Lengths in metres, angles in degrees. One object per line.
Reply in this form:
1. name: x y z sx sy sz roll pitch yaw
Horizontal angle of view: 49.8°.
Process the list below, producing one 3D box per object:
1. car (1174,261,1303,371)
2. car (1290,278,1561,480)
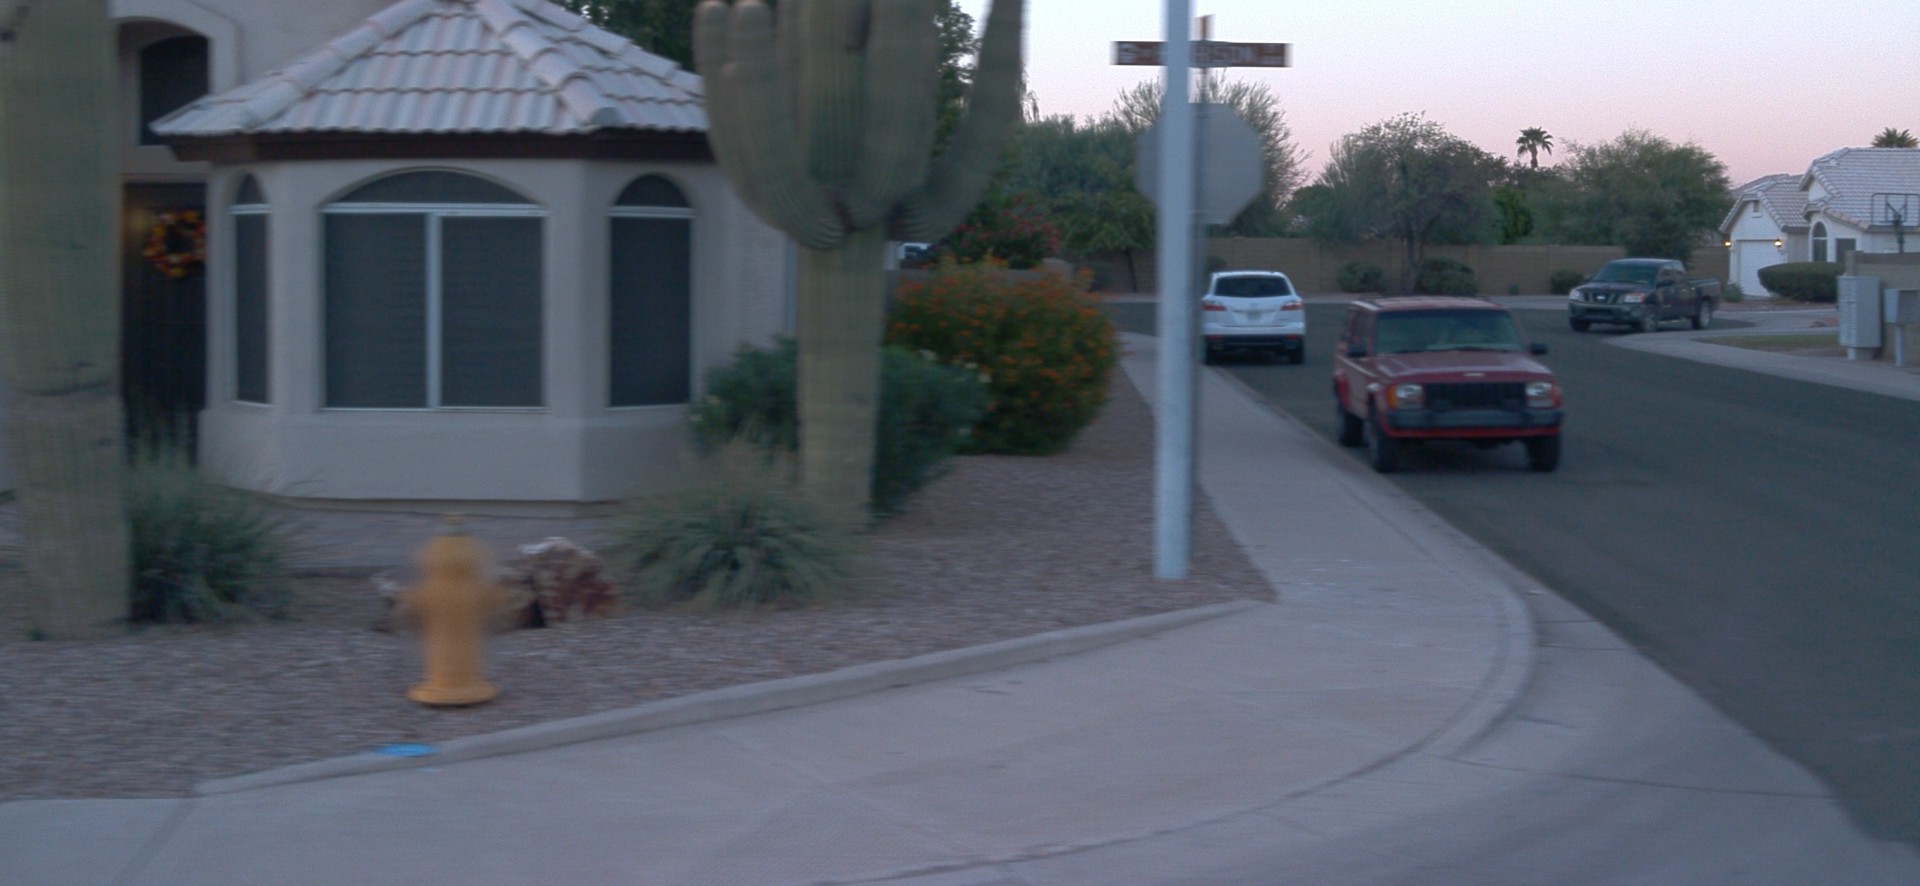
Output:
1. car: 5.150 -2.445 38.785 2.113 1.853 4.640 0 5 4
2. car: 4.717 -0.801 21.722 2.041 1.733 5.261 0 5 4
